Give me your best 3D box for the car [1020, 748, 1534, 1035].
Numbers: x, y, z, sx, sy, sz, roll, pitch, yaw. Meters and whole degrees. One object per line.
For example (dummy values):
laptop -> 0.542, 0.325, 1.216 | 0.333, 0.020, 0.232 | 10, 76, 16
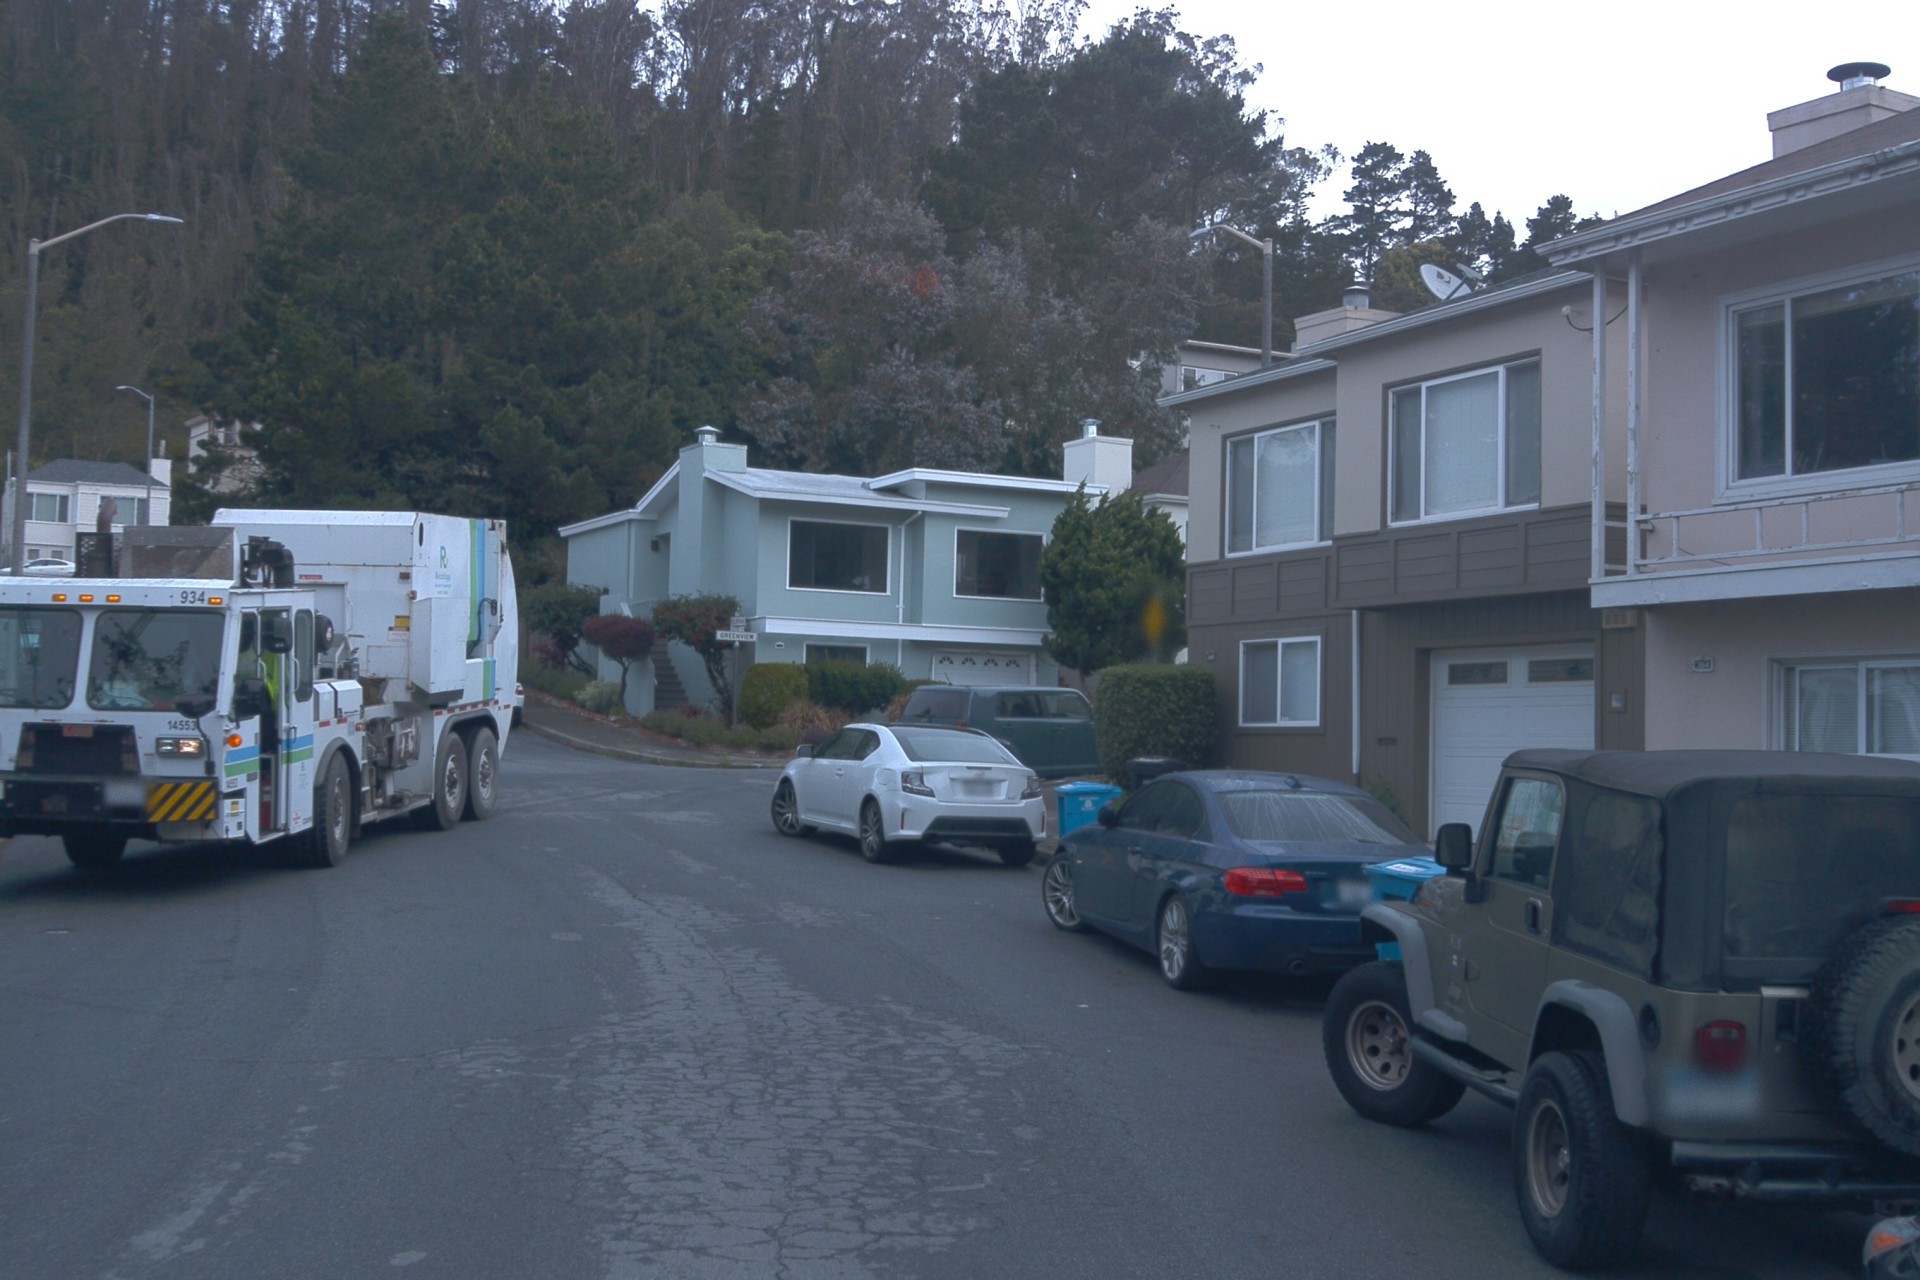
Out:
car -> 1.983, 1.604, 14.623 | 2.037, 1.450, 4.649 | 0, 0, -12

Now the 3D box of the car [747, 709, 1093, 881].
car -> -0.578, 1.606, 22.808 | 2.201, 1.540, 4.545 | 0, 0, -24

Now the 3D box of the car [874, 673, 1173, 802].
car -> 1.003, 1.414, 31.417 | 4.270, 1.770, 2.030 | 0, 0, -40
